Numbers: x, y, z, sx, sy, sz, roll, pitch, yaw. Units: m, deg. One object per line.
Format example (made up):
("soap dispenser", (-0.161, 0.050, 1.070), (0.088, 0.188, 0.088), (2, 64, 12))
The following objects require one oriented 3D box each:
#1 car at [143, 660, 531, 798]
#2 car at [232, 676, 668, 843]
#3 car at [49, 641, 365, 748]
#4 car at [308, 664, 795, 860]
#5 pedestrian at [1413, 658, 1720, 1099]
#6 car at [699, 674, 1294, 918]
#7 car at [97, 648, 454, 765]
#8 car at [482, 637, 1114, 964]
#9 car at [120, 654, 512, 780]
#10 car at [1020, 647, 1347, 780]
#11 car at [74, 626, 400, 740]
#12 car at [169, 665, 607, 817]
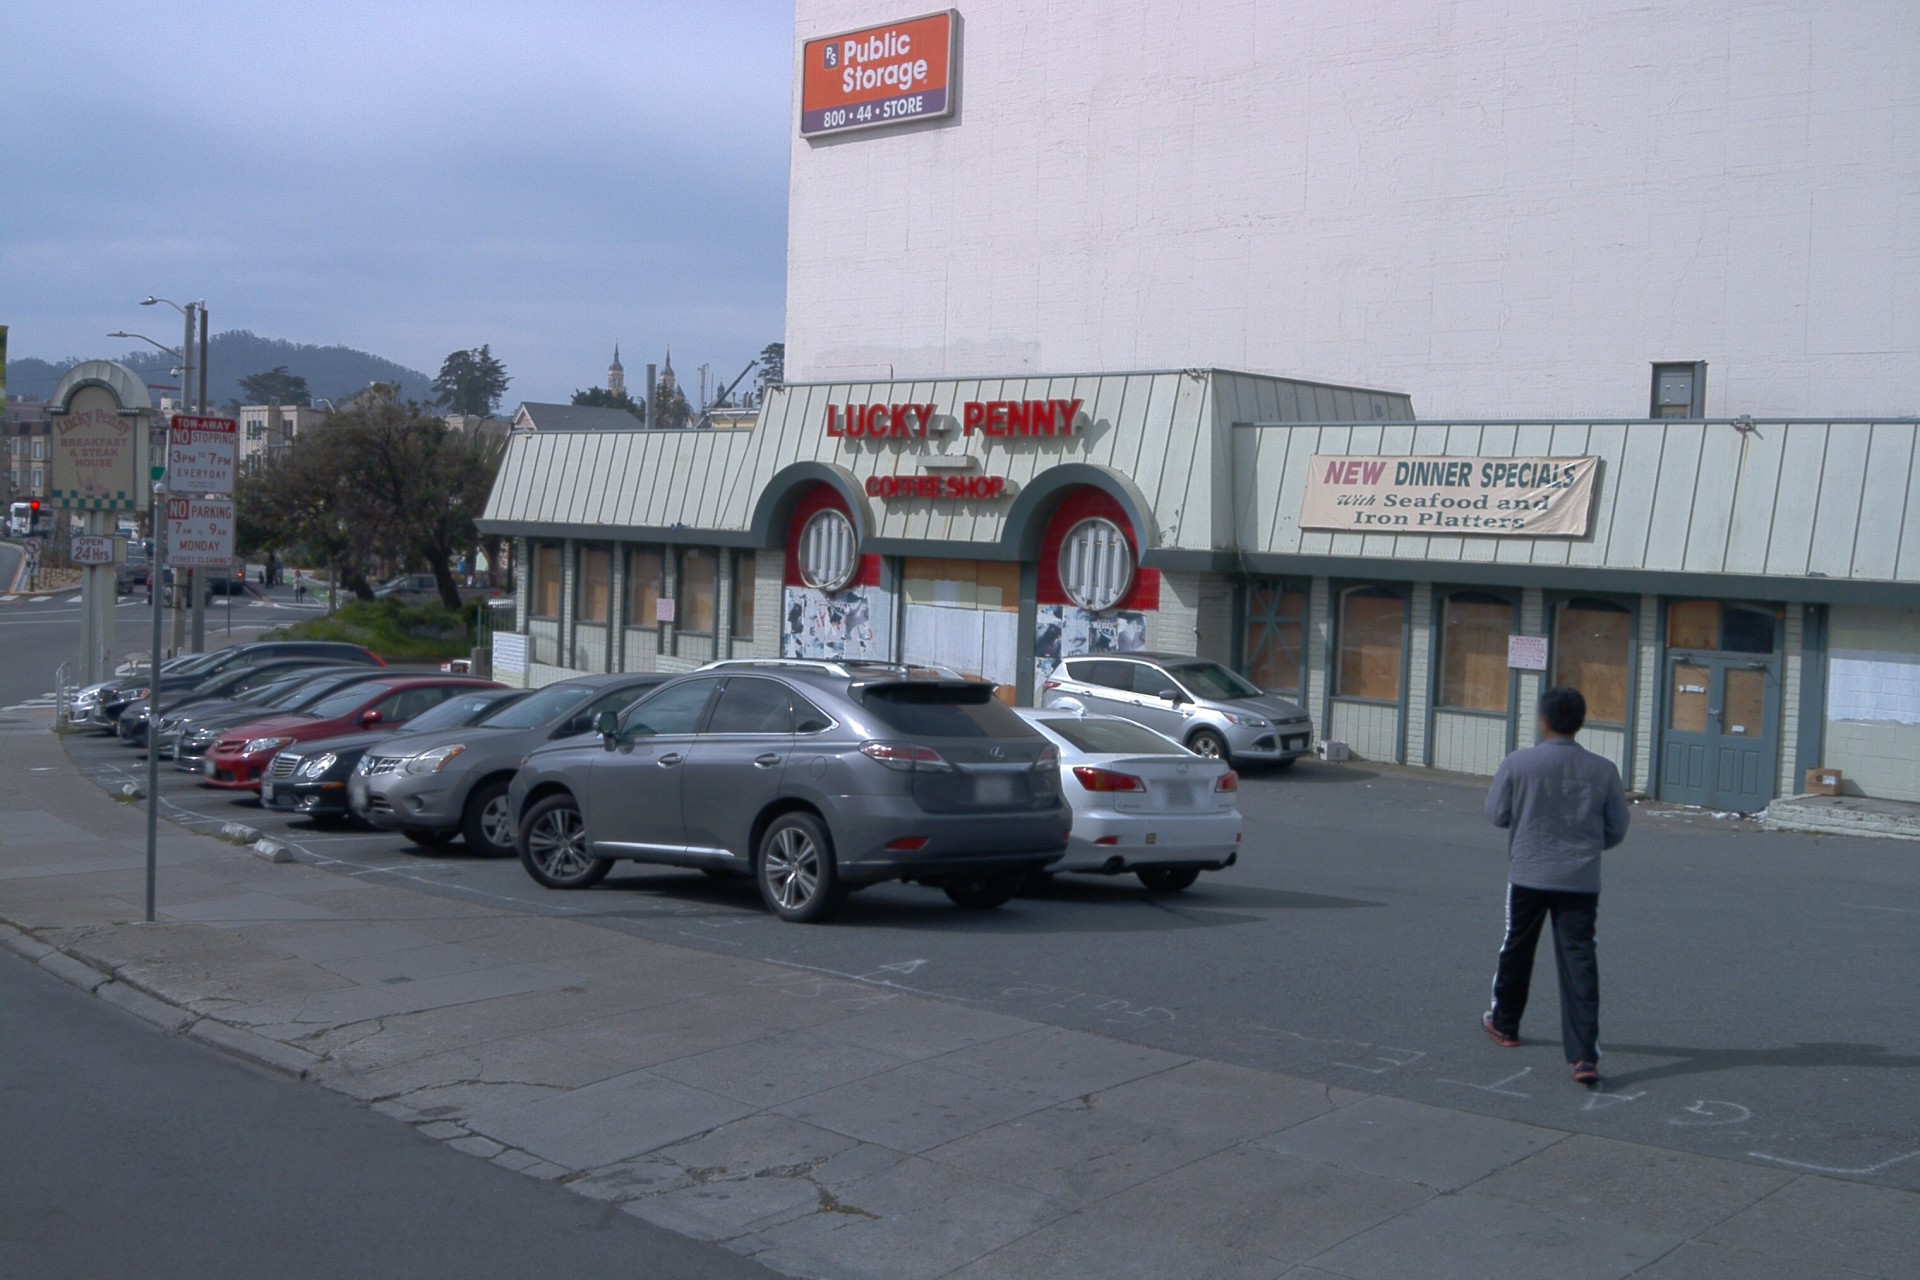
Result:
("car", (-7.972, 1.072, 26.410), (4.343, 1.580, 1.994), (0, 0, -43))
("car", (-5.264, 1.165, 21.427), (4.029, 1.500, 1.869), (0, 0, -45))
("car", (-13.135, 0.900, 35.855), (4.757, 1.740, 2.072), (0, 0, -43))
("car", (-3.714, 1.032, 19.045), (1.975, 1.570, 4.019), (1, 0, 44))
("pedestrian", (2.544, 0.961, 8.716), (0.943, 1.744, 1.076), (1, 0, -2))
("car", (0.159, 1.128, 16.691), (2.088, 1.580, 4.738), (0, 0, -44))
("car", (-10.336, 0.949, 31.104), (4.651, 1.610, 2.192), (0, 0, -43))
("car", (-1.292, 0.964, 14.599), (2.065, 1.920, 4.493), (0, 0, -45))
("car", (-8.982, 1.004, 28.781), (4.736, 1.590, 2.241), (0, 0, -44))
("car", (3.289, 1.031, 30.718), (2.134, 1.790, 4.557), (0, 0, -44))
("car", (-11.716, 0.655, 33.333), (4.561, 1.710, 2.059), (0, 0, -43))
("car", (-6.657, 1.103, 24.116), (4.484, 1.550, 2.134), (0, 0, -44))
